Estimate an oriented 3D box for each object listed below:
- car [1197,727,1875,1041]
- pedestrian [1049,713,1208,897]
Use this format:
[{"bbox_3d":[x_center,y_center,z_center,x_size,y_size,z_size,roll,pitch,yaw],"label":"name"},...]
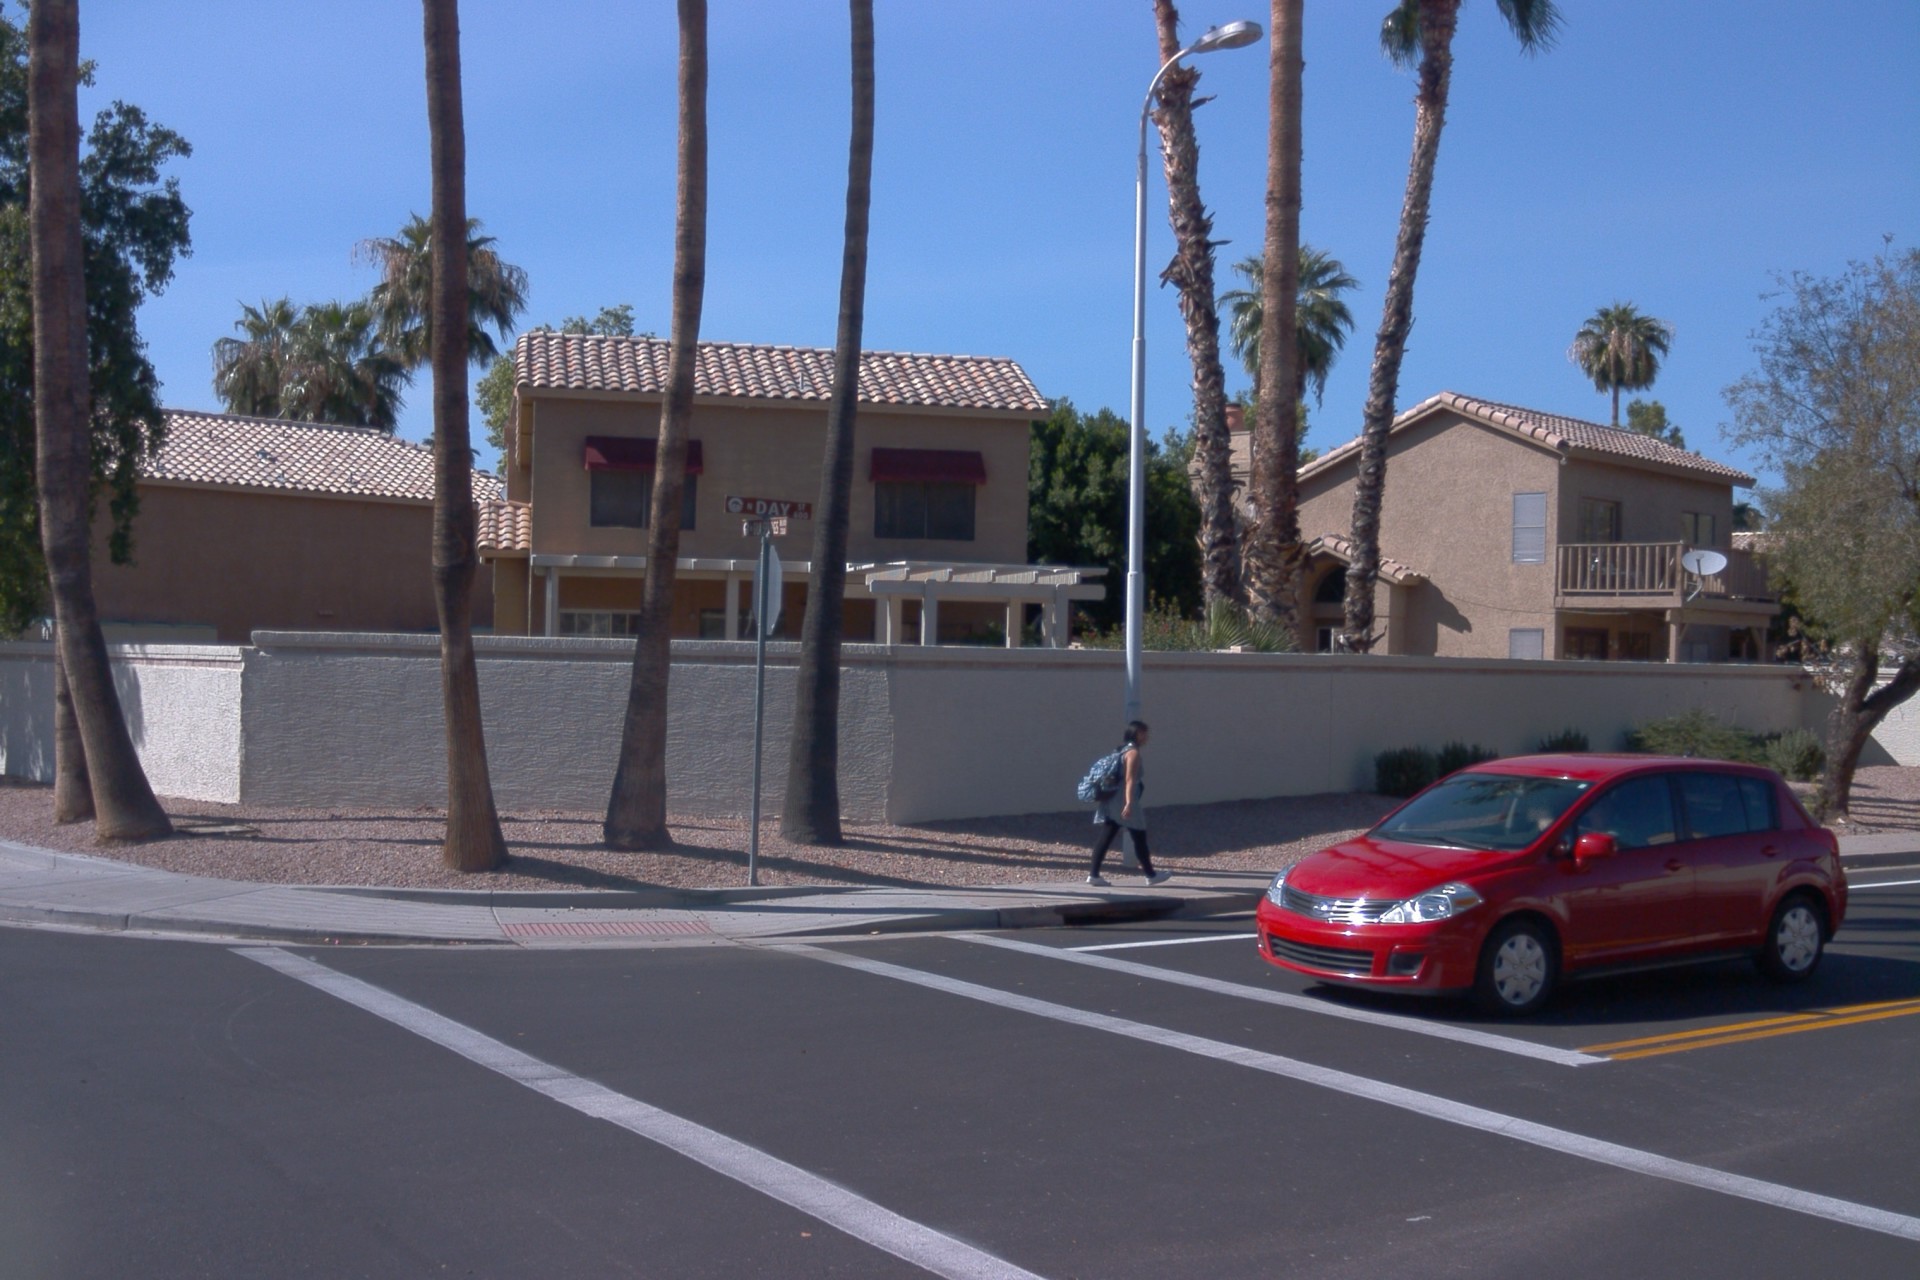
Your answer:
[{"bbox_3d":[3.839,1.459,13.748,4.212,1.680,1.945,1,-1,-32],"label":"car"},{"bbox_3d":[1.507,1.449,18.725,0.996,1.560,1.004,1,-1,-34],"label":"pedestrian"}]
